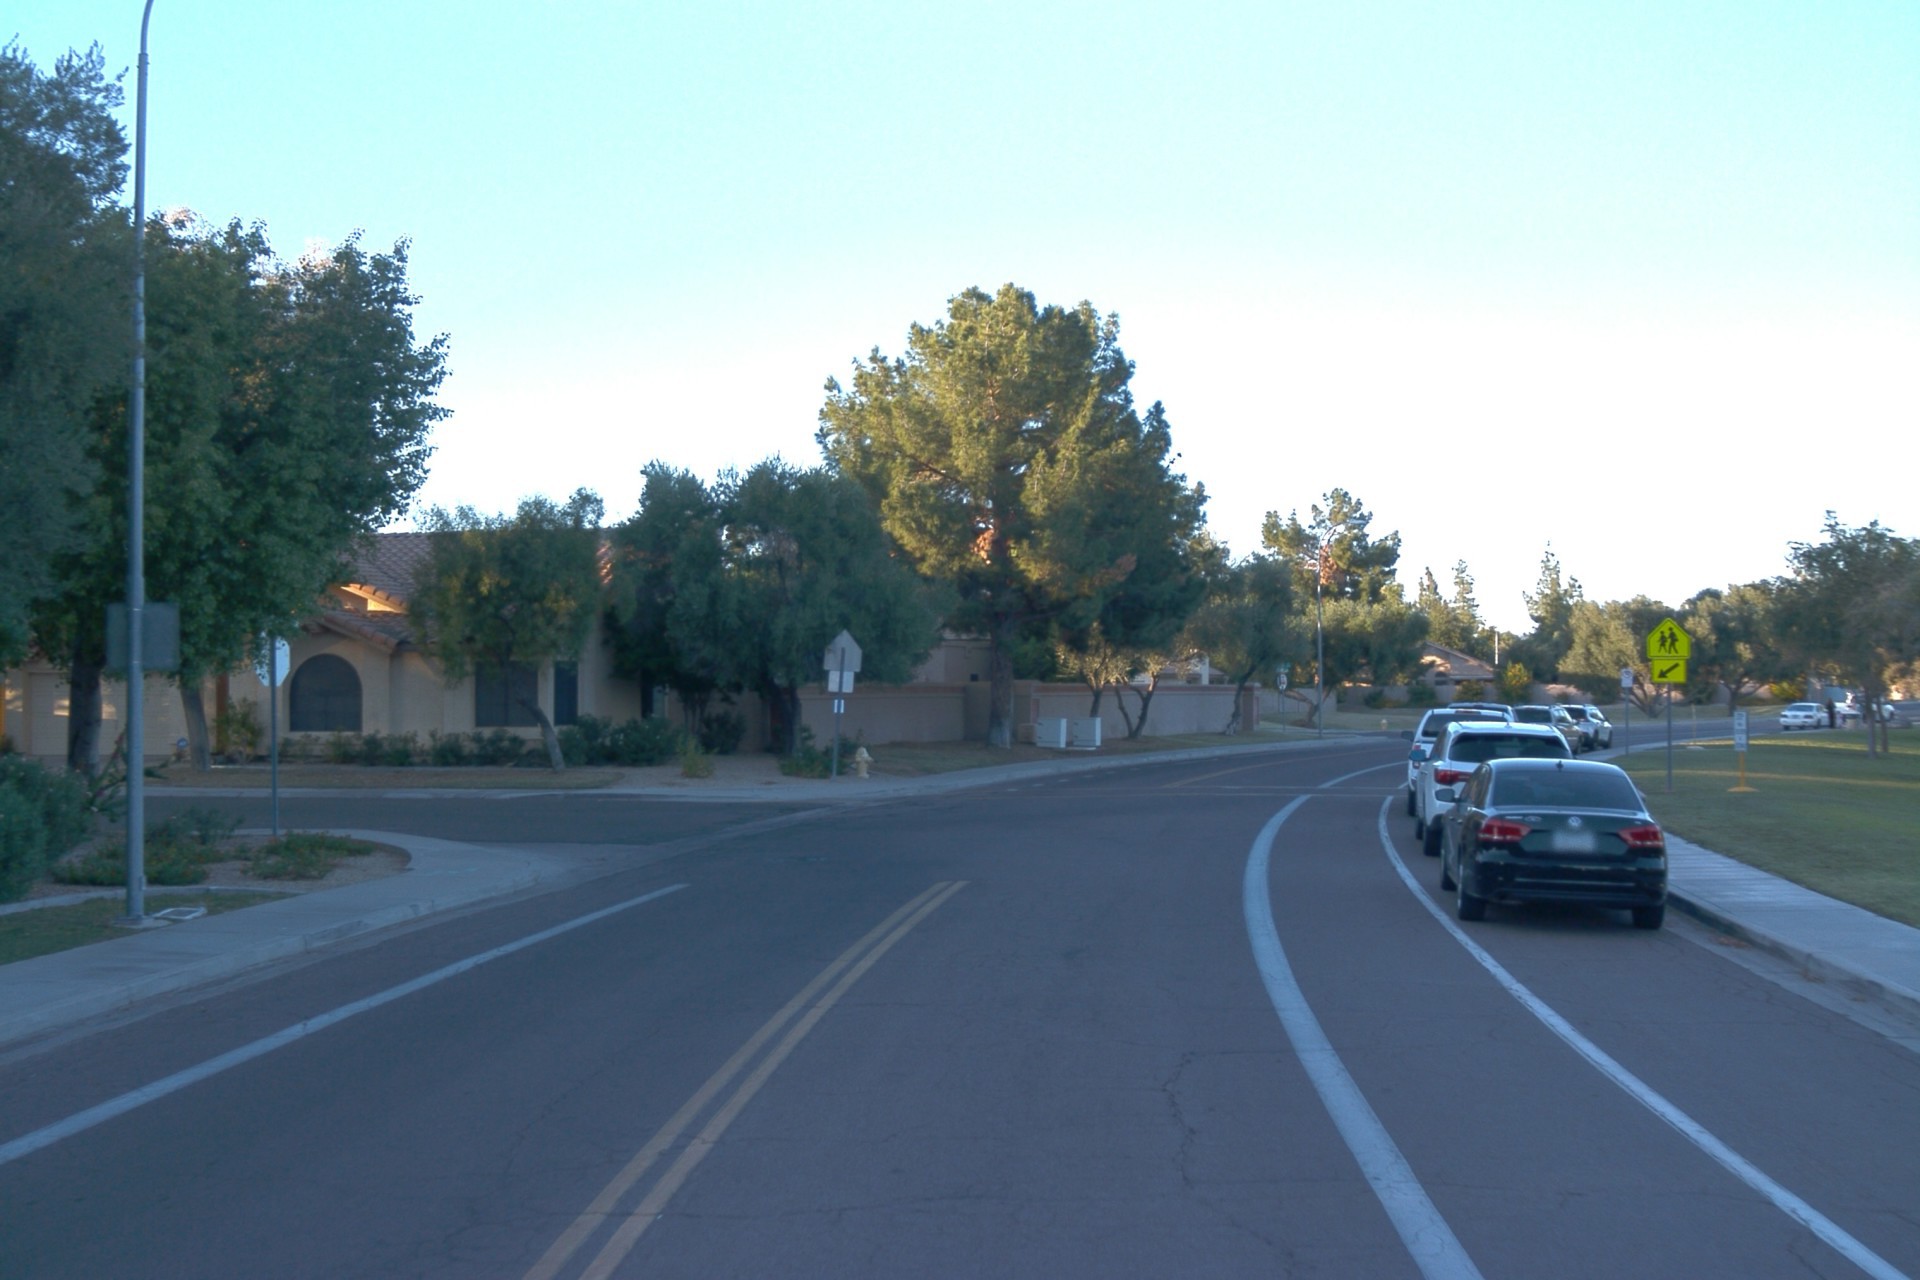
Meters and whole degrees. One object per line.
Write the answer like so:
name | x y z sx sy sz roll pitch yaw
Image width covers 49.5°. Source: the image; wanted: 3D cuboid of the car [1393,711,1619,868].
car | 6.964 1.847 27.102 2.334 1.770 5.016 0 -1 9

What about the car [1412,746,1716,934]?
car | 5.571 1.788 19.838 2.176 1.410 4.820 0 -1 9

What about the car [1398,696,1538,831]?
car | 8.460 1.993 35.039 2.084 2.040 5.281 0 -1 12
